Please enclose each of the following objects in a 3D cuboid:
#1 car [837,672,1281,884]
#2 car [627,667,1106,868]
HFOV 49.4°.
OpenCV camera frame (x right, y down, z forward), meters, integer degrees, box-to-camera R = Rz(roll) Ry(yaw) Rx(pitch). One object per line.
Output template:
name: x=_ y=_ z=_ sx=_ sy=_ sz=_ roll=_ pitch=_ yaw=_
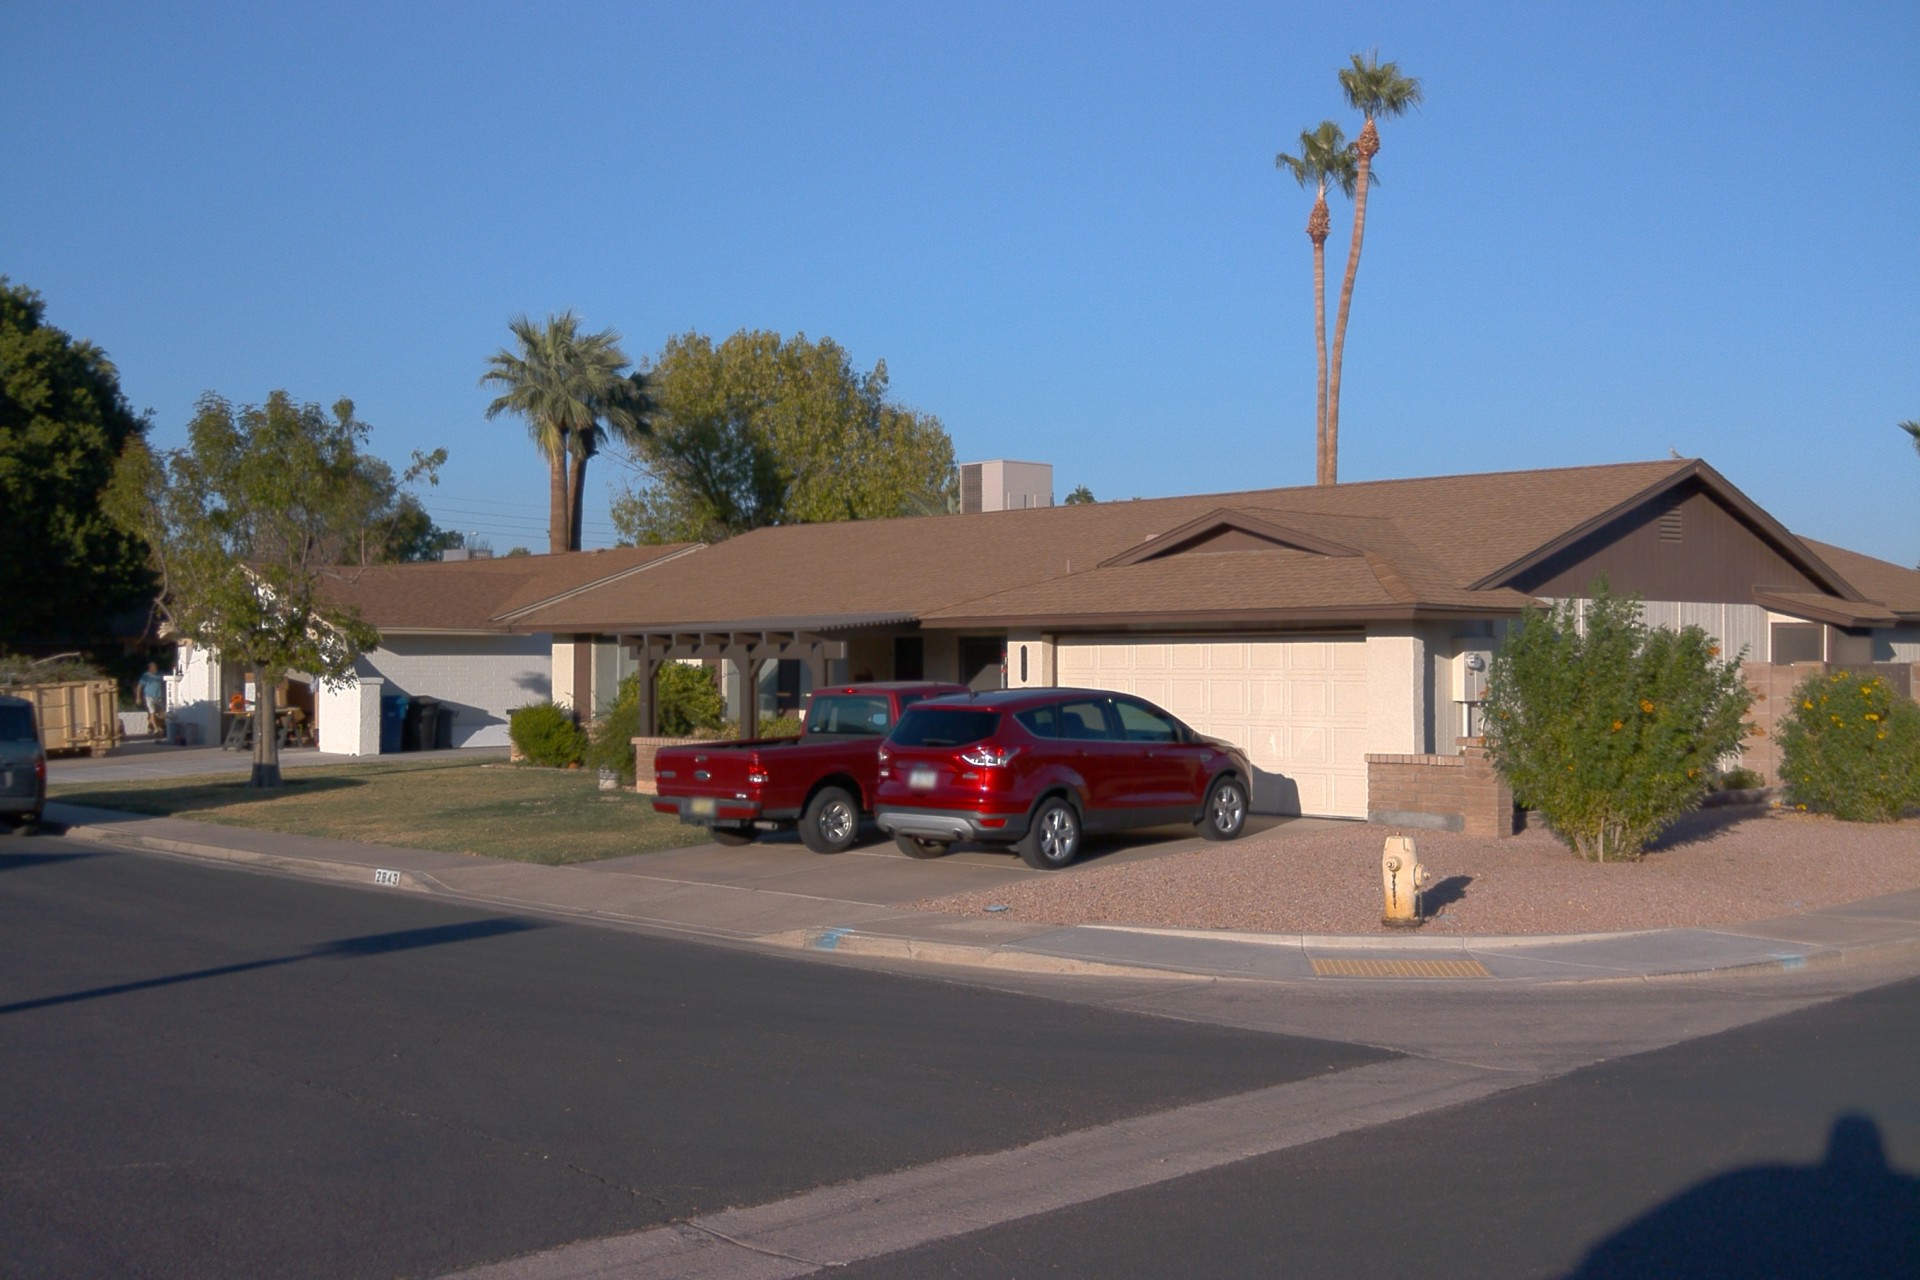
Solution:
car: x=1.106 y=1.259 z=20.926 sx=1.963 sy=1.830 sz=4.602 roll=0 pitch=0 yaw=42
car: x=-0.878 y=1.262 z=22.672 sx=1.986 sy=1.900 sz=5.227 roll=0 pitch=0 yaw=45
